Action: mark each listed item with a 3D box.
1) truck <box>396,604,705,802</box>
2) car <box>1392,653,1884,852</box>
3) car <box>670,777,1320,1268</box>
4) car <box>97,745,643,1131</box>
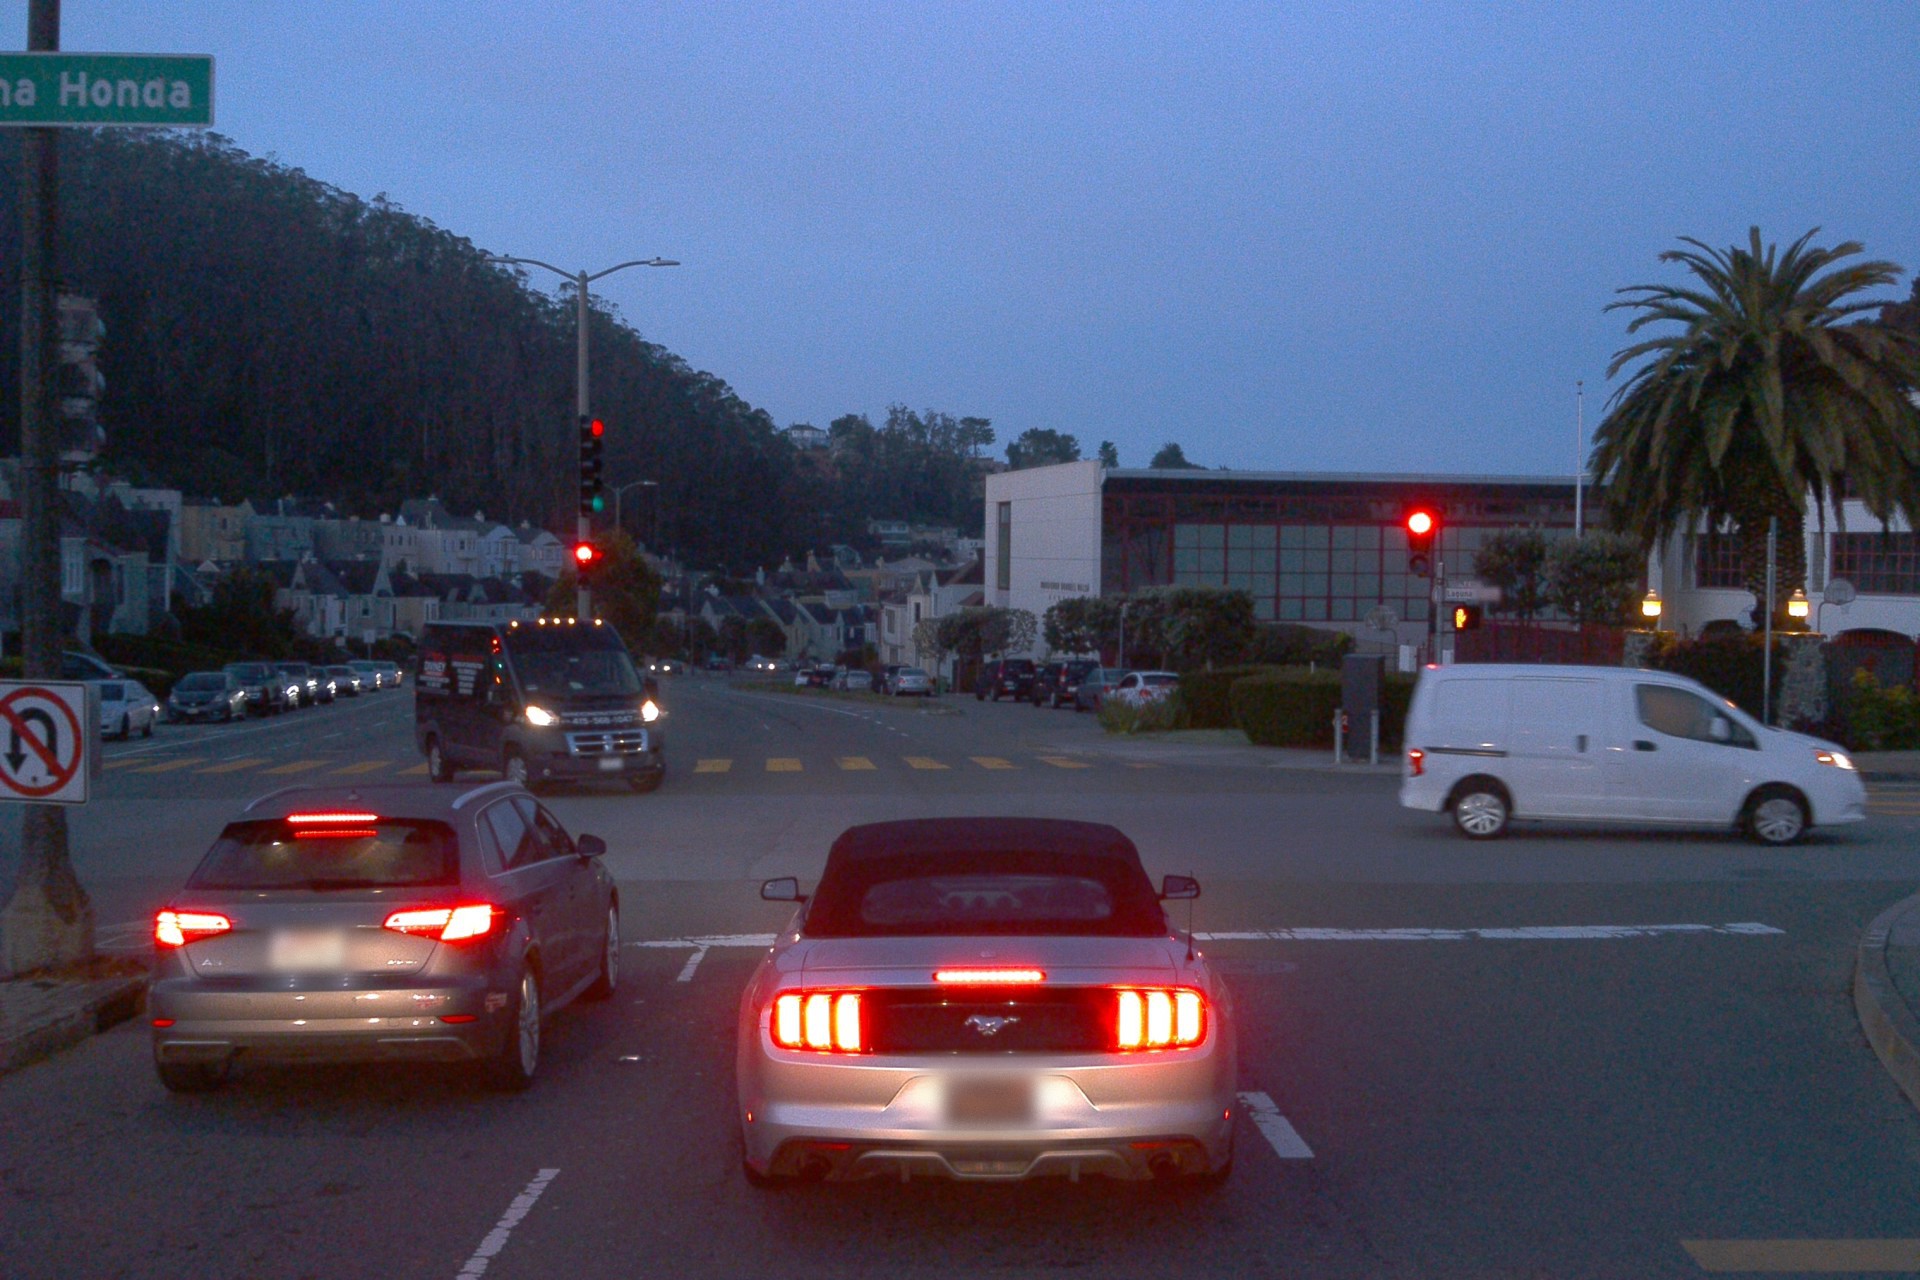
[{"bbox_3d":[-6.125,0.846,30.359,2.546,2.610,5.658,0,0,-33],"label":"truck"},{"bbox_3d":[7.197,1.143,22.460,4.845,2.000,2.100,0,0,14],"label":"car"},{"bbox_3d":[0.099,1.425,9.110,2.174,1.380,4.355,0,0,0],"label":"car"},{"bbox_3d":[-2.886,1.404,11.058,1.782,1.510,3.987,0,0,0],"label":"car"}]
